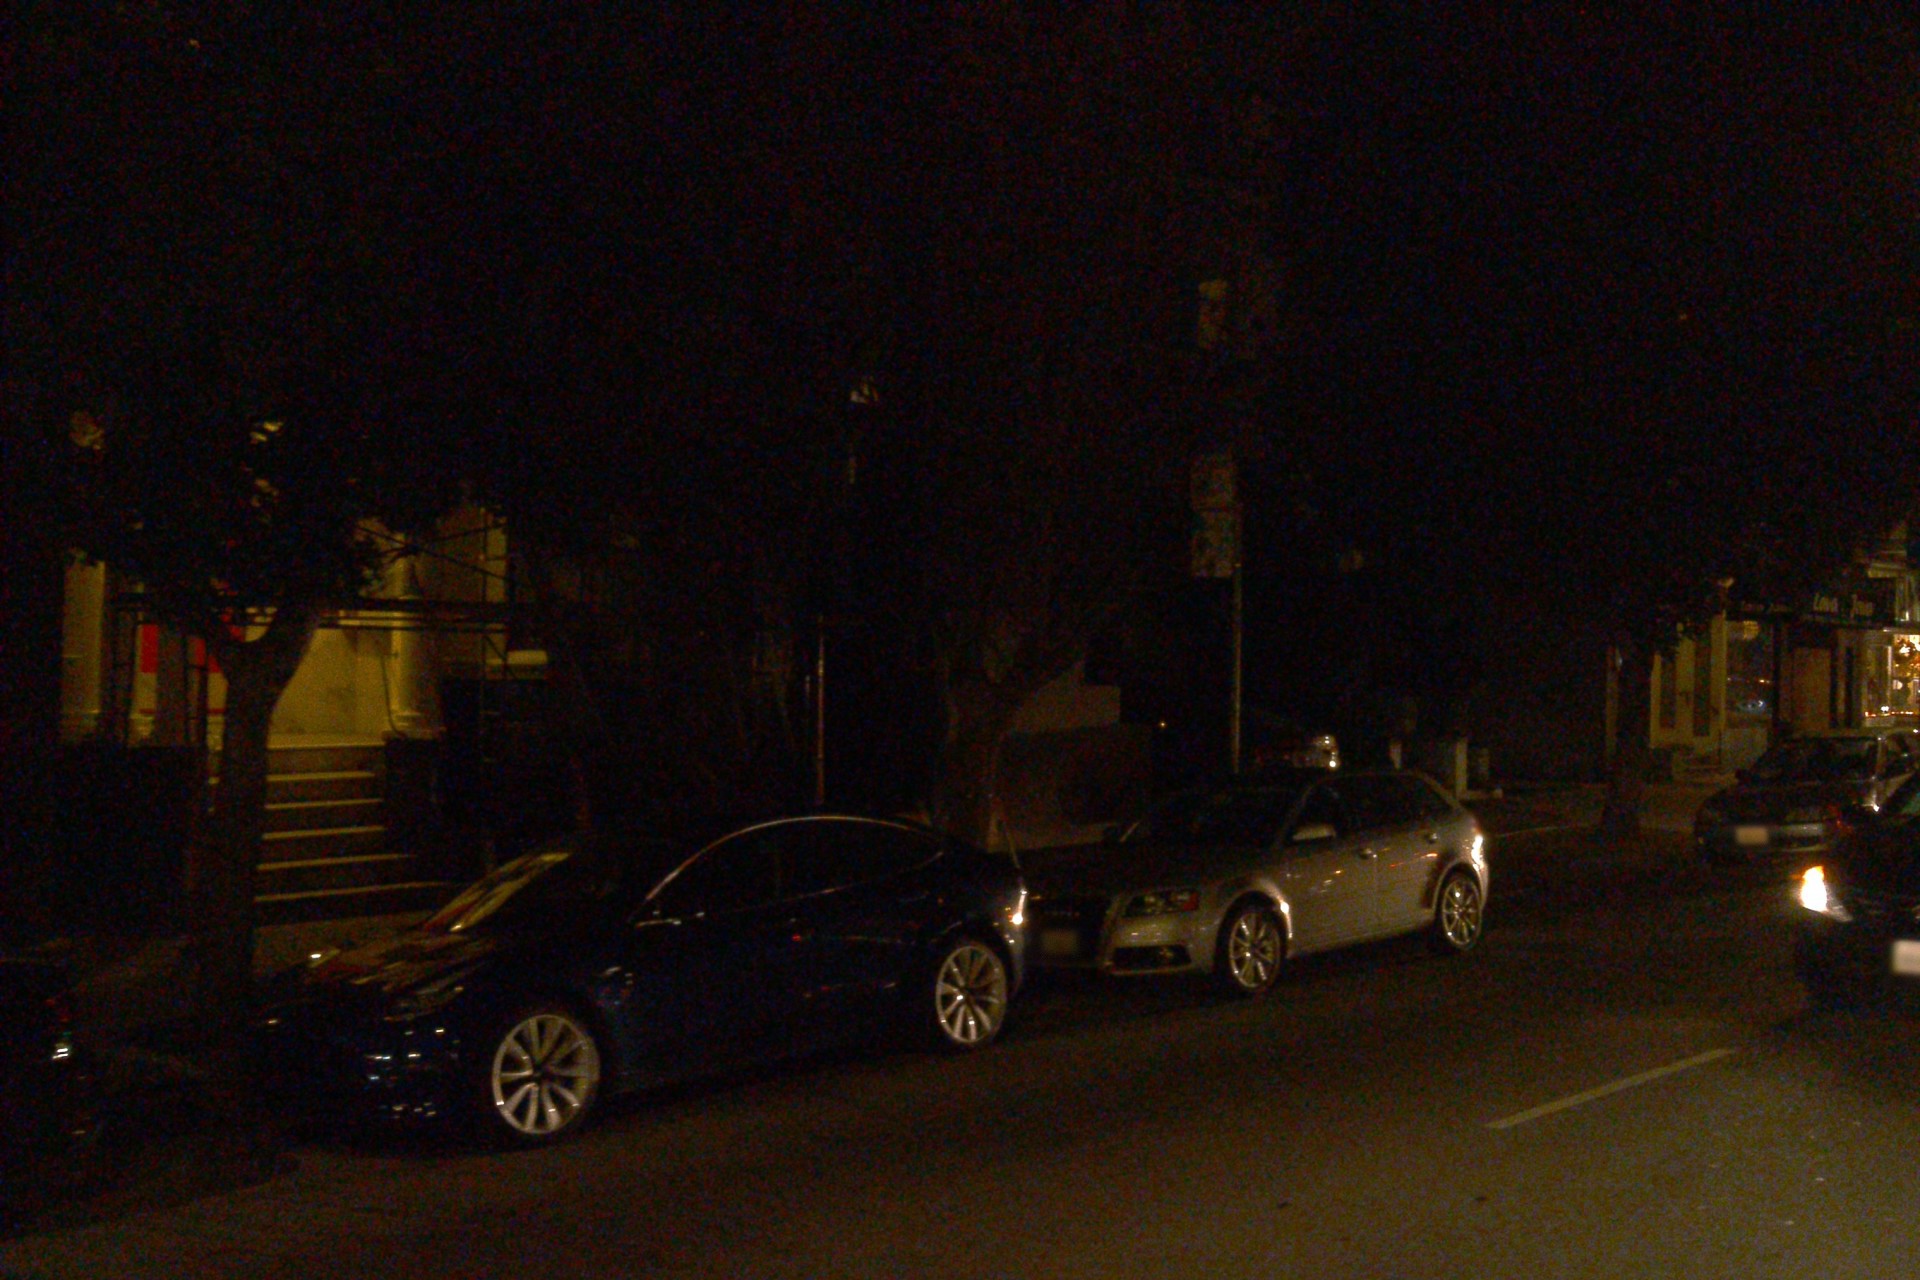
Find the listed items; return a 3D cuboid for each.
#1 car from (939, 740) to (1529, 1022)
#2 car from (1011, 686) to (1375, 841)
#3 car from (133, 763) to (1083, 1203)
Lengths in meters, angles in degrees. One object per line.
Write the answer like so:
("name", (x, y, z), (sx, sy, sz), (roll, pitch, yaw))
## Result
("car", (2.069, 1.539, 14.459), (1.948, 1.390, 4.407), (2, 1, 42))
("car", (2.659, 1.363, 23.909), (3.789, 1.470, 1.942), (2, 1, 43))
("car", (-1.582, 1.529, 10.694), (2.008, 1.420, 4.636), (2, 1, 41))
